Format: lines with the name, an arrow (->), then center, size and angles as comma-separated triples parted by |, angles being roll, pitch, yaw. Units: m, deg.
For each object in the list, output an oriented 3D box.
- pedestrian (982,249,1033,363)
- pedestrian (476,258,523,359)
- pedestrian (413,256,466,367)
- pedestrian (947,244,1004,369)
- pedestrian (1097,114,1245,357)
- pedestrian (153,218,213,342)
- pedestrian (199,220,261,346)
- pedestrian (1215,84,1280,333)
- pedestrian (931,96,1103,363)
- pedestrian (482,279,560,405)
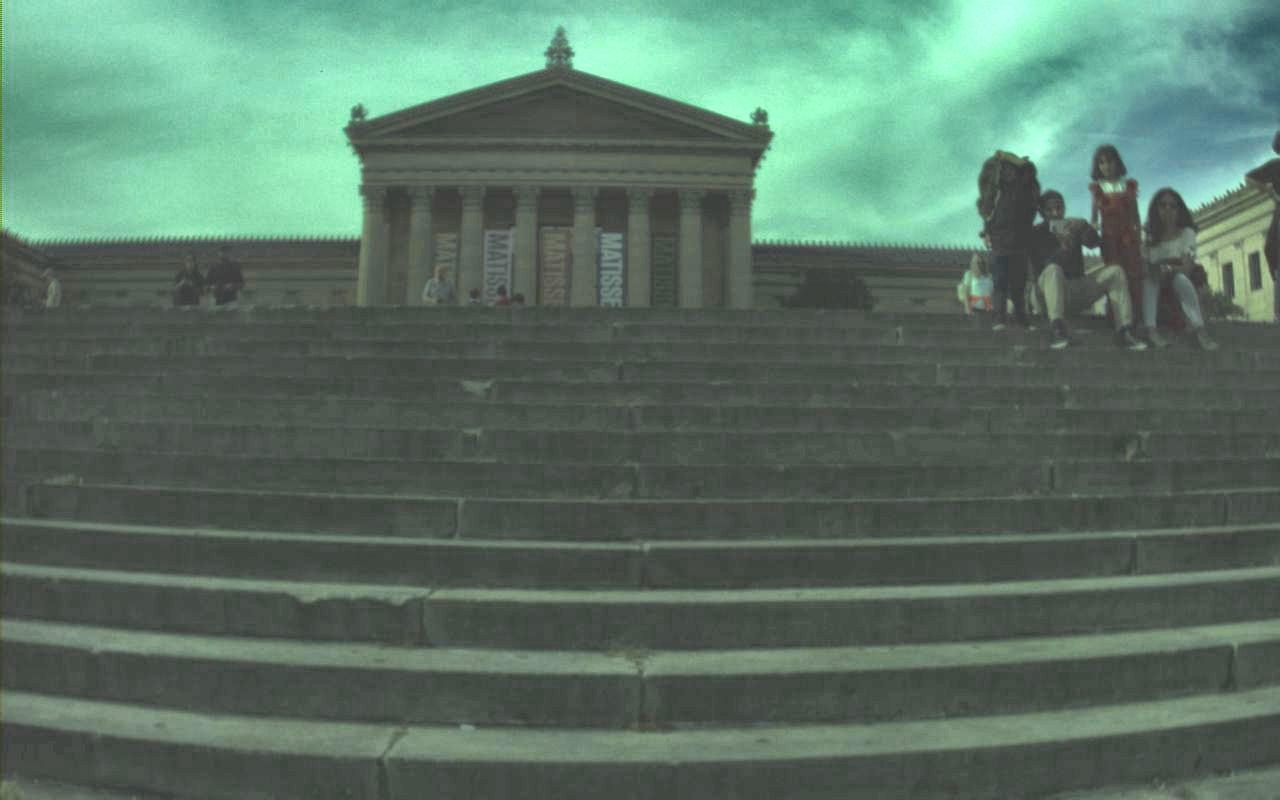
pedestrian -> 5.855, -1.468, 19.460 | 0.668, 1.773, 0.699 | 1, 0, 32
pedestrian -> -2.609, -1.682, 23.359 | 0.647, 1.833, 0.648 | 0, 0, 15
pedestrian -> -3.448, -1.497, 21.483 | 0.751, 1.873, 0.757 | 0, 0, 3
pedestrian -> 4.967, -1.354, 18.230 | 0.751, 1.816, 0.767 | 0, 0, 6
pedestrian -> 3.403, -1.004, 7.480 | 0.727, 1.475, 0.762 | 0, 0, 0
pedestrian -> -6.753, -1.726, 17.498 | 0.693, 1.785, 0.702 | 0, 0, -3
pedestrian -> -5.999, -1.668, 17.569 | 0.688, 1.792, 0.699 | 0, 0, 3
pedestrian -> 4.843, -1.413, 8.582 | 0.669, 1.831, 0.694 | 1, 0, 45
pedestrian -> 2.334, -1.007, 7.526 | 0.770, 1.555, 0.798 | 0, 0, -15
pedestrian -> -1.728, -0.822, 18.225 | 0.844, 1.766, 0.865 | 0, 0, -29
